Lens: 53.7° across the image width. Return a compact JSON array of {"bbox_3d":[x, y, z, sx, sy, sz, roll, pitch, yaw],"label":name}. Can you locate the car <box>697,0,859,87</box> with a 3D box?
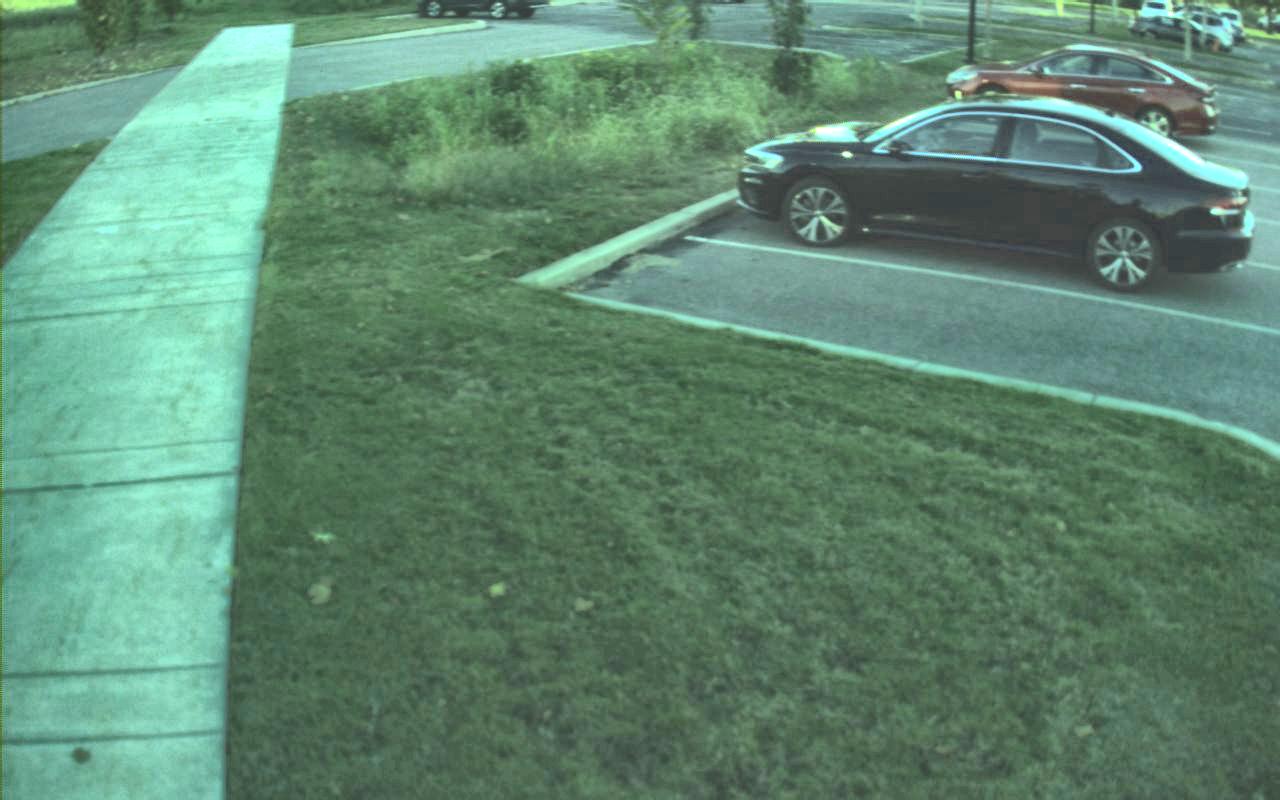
[{"bbox_3d":[2.541,-6.375,21.315,1.993,1.719,4.576,4,17,17],"label":"car"}]

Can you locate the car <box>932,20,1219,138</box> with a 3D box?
[{"bbox_3d":[7.442,-5.428,19.744,4.846,1.632,2.043,8,18,27],"label":"car"}]

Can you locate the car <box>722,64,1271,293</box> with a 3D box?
[{"bbox_3d":[3.317,-2.127,10.822,4.778,1.587,2.021,7,17,26],"label":"car"}]
